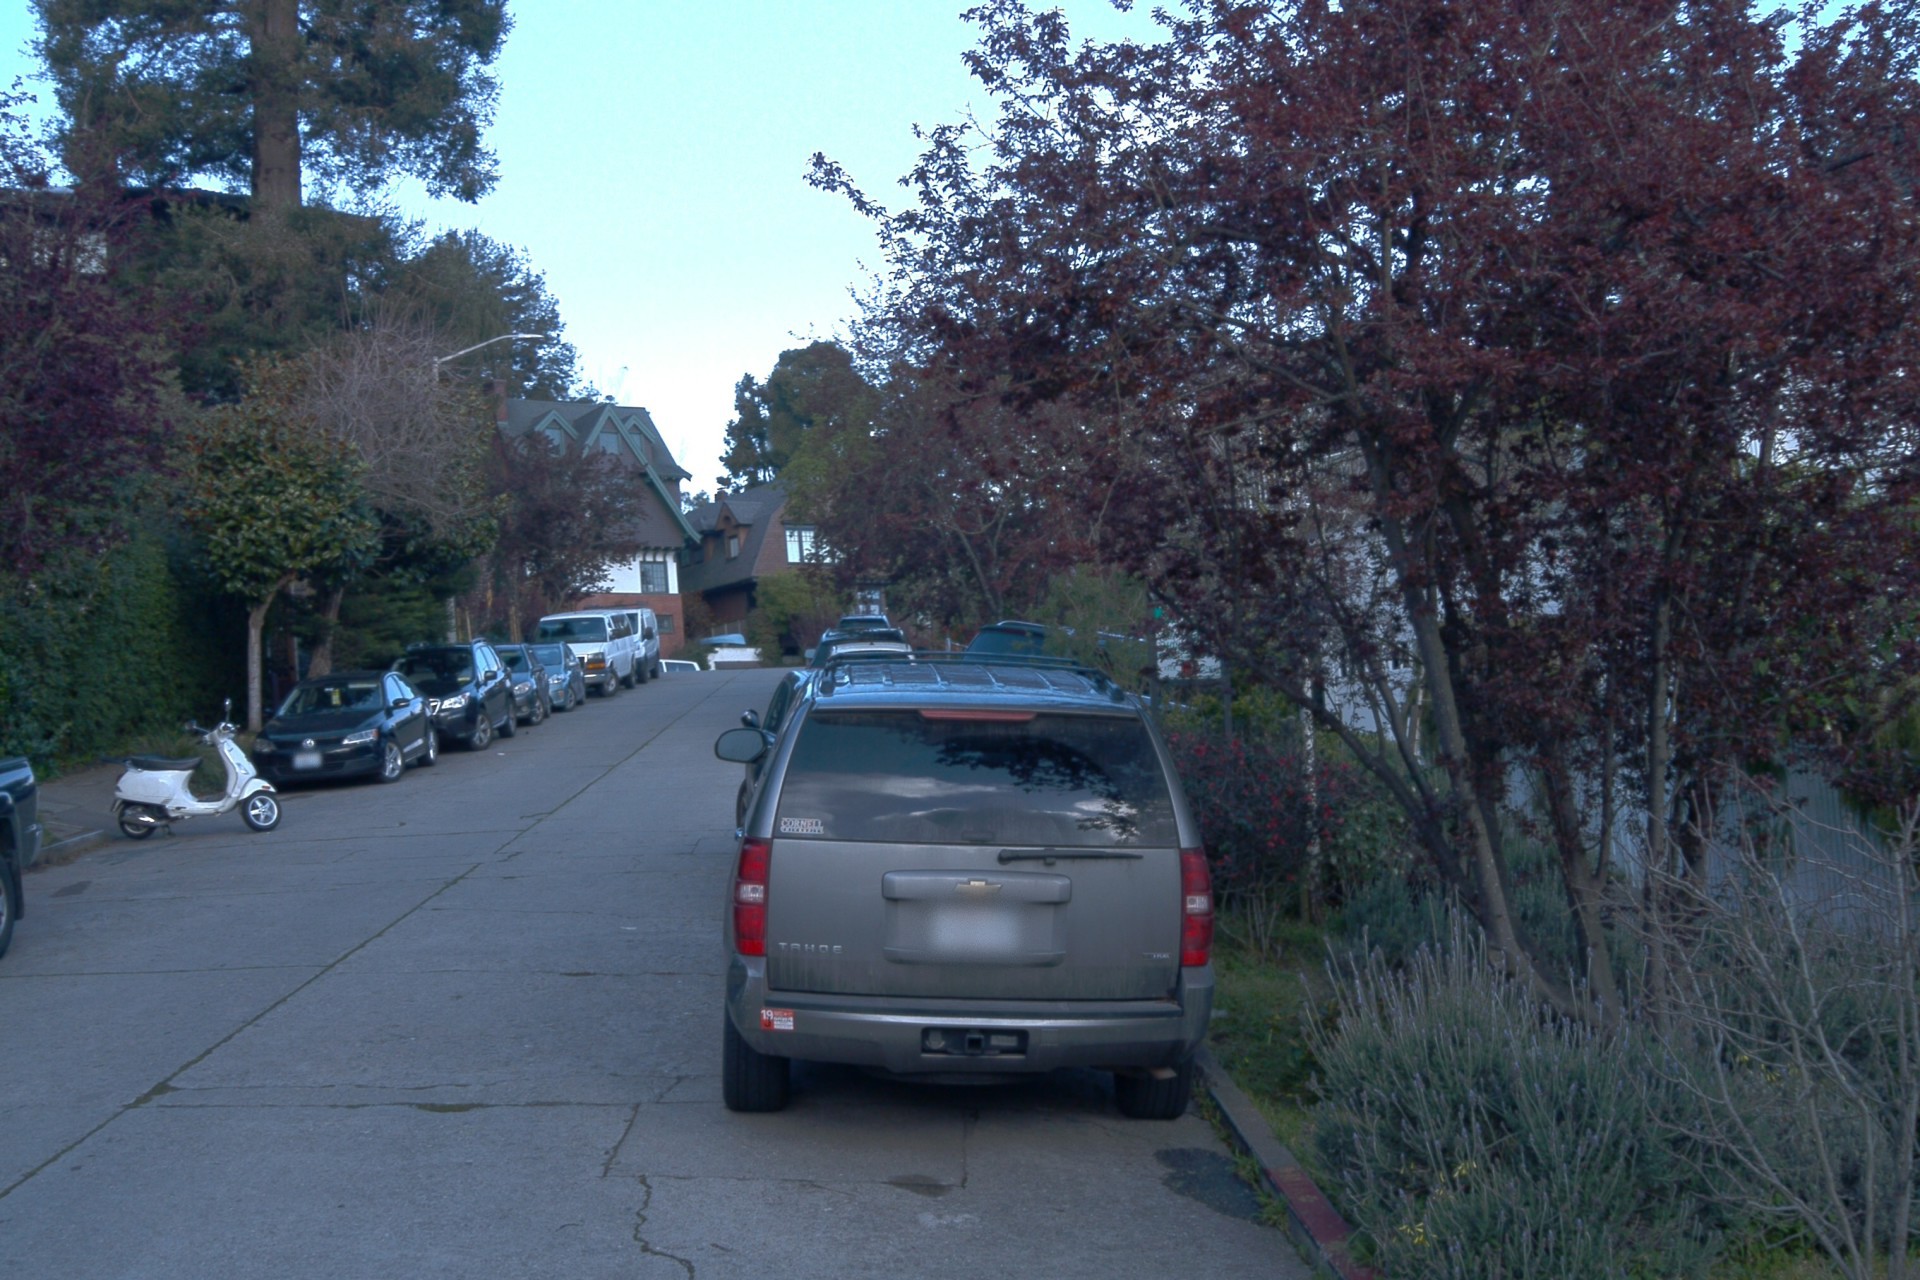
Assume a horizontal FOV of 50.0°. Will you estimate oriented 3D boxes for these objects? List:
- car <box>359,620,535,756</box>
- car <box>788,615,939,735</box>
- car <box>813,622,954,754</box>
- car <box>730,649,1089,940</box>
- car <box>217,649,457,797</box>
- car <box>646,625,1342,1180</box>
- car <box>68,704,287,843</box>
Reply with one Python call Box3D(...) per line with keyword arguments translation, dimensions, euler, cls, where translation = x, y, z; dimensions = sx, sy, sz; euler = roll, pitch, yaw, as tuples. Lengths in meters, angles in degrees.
Box3D(translation=(-8.197, 0.726, 33.302), dimensions=(1.891, 2.043, 4.697), euler=(0, 0, -3), cls="car")
Box3D(translation=(-1.471, 0.524, 33.273), dimensions=(2.180, 1.798, 4.799), euler=(0, 0, 0), cls="car")
Box3D(translation=(-1.118, 0.619, 28.430), dimensions=(1.797, 1.690, 3.711), euler=(0, 0, -4), cls="car")
Box3D(translation=(-0.556, 0.976, 15.483), dimensions=(2.262, 1.805, 5.055), euler=(0, 0, -6), cls="car")
Box3D(translation=(-8.268, 1.031, 27.800), dimensions=(2.064, 1.817, 4.781), euler=(0, 0, -4), cls="car")
Box3D(translation=(-0.019, 0.957, 10.158), dimensions=(2.553, 2.010, 5.242), euler=(0, 0, -3), cls="car")
Box3D(translation=(-7.897, 1.335, 20.867), dimensions=(1.918, 1.324, 0.960), euler=(0, 0, -10), cls="car")
